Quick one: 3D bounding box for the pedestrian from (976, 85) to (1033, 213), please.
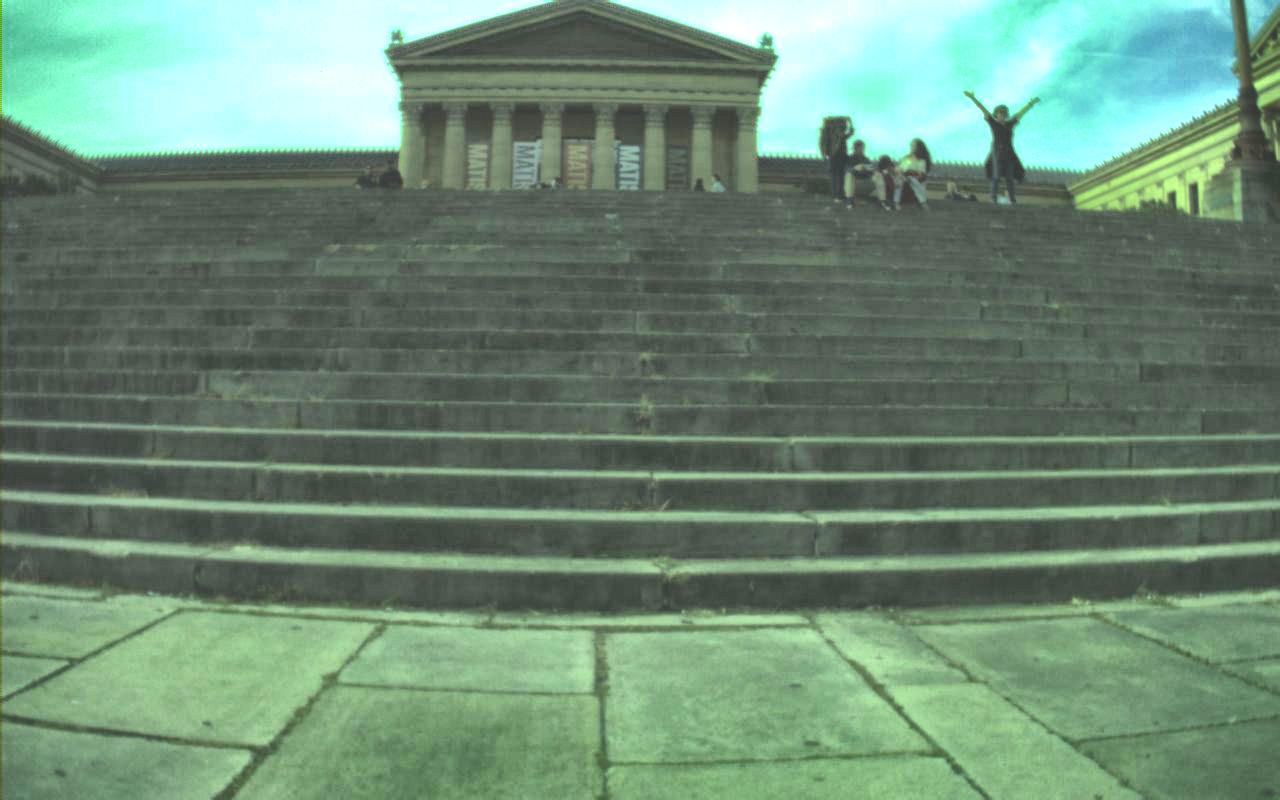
[{"bbox_3d":[5.534,-3.788,18.365,0.658,1.858,0.617,0,0,-4],"label":"pedestrian"}]

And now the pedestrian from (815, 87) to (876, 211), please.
[{"bbox_3d":[2.893,-3.522,17.476,0.685,1.651,0.659,0,0,-8],"label":"pedestrian"}]
